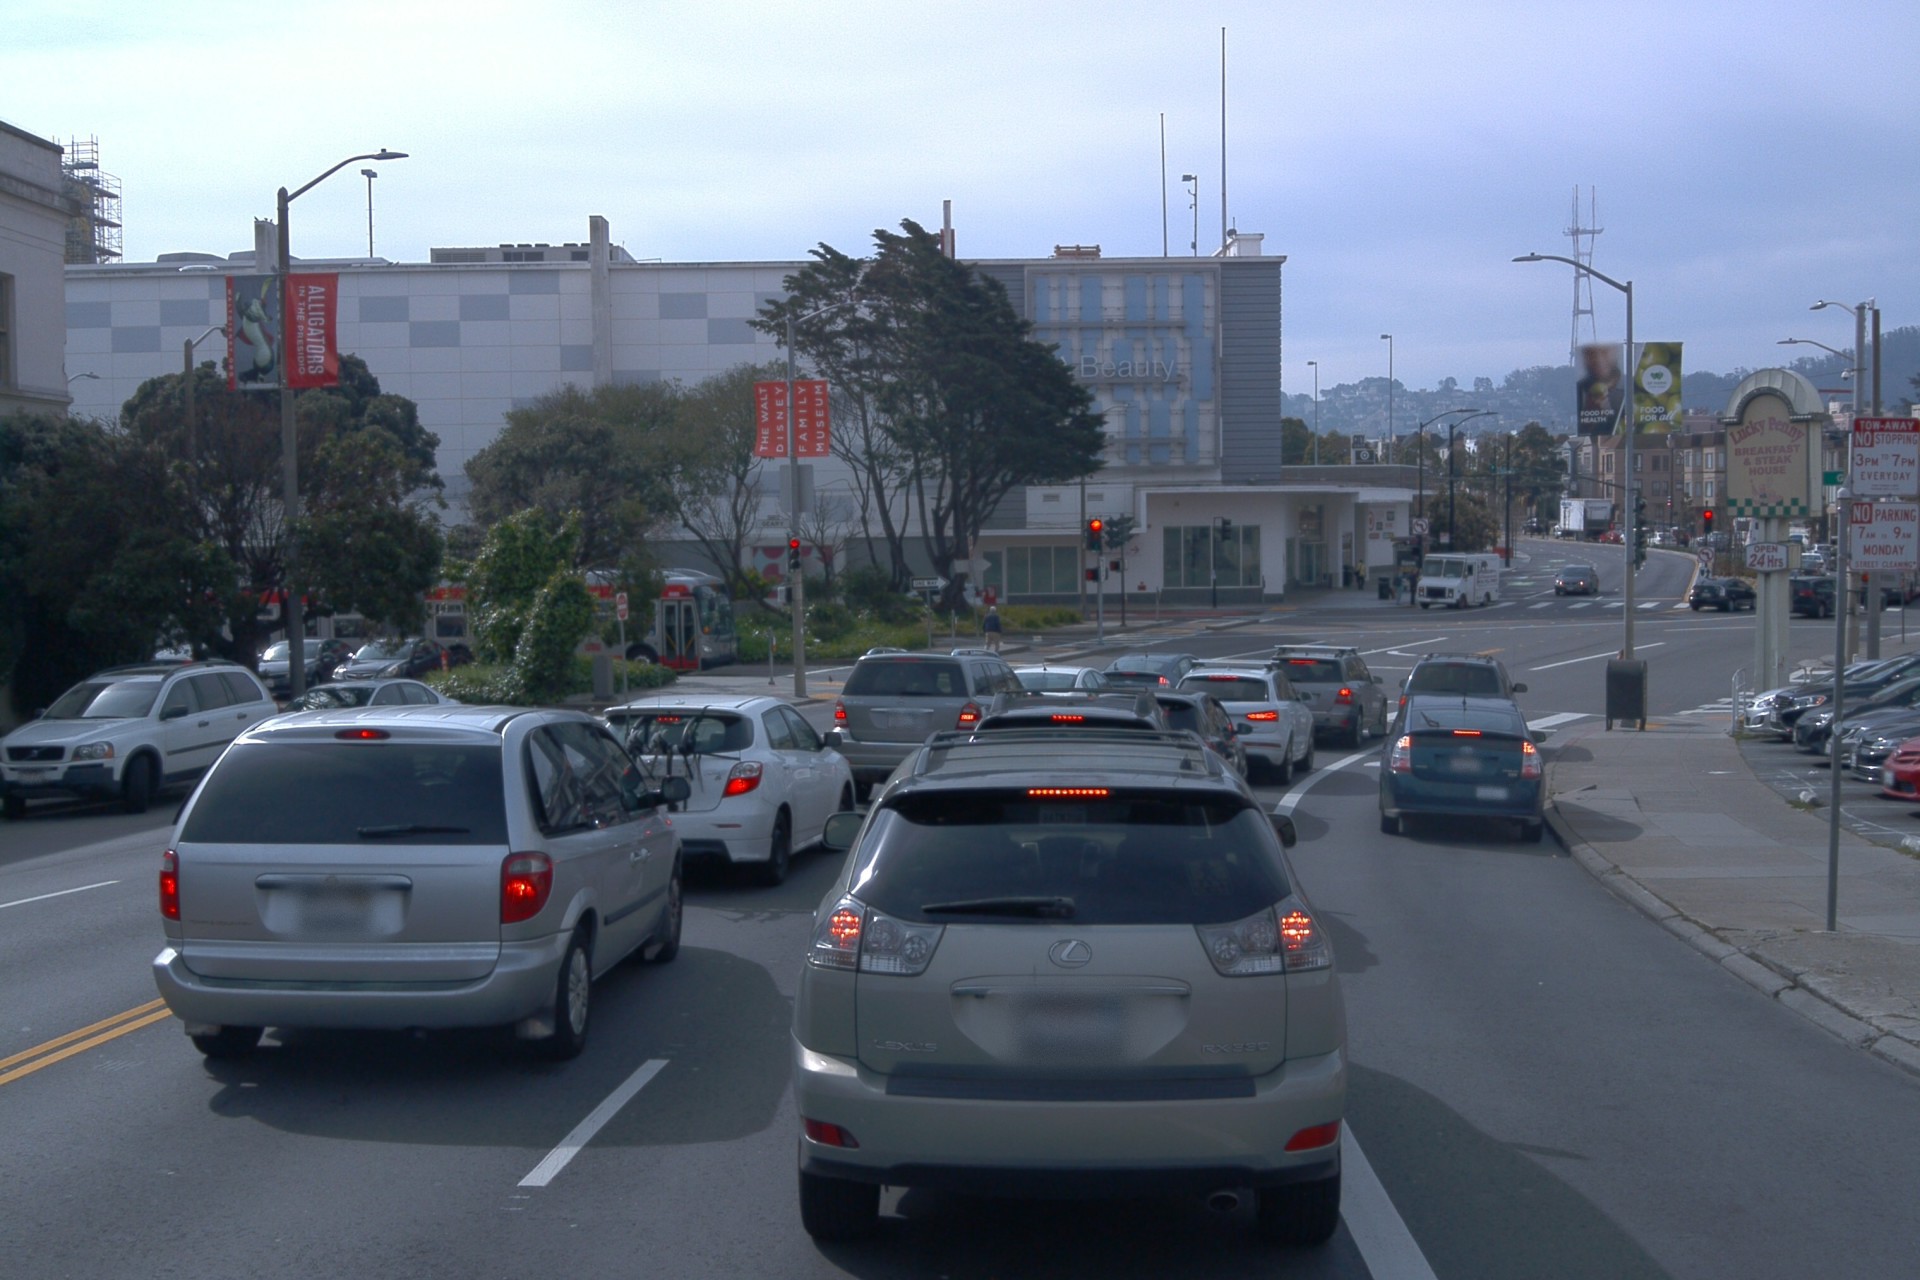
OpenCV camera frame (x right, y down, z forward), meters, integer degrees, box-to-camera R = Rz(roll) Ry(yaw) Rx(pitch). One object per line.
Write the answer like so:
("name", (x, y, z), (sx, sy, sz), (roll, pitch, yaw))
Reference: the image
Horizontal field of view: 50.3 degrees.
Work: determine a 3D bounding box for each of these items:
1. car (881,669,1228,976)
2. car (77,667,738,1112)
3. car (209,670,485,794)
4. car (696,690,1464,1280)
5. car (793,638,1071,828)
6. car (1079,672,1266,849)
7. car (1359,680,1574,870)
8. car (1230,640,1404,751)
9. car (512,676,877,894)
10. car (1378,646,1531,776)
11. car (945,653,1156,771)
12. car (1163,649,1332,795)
("car", (0.884, 1.202, 15.458), (2.119, 1.870, 4.391), (1, 0, 9))
("car", (-2.682, 1.114, 11.268), (2.131, 1.830, 4.635), (1, 0, 4))
("car", (-9.226, 1.331, 31.231), (1.977, 1.640, 4.663), (1, 0, 13))
("car", (0.408, 1.168, 8.138), (2.197, 1.780, 4.467), (1, 0, 2))
("car", (-0.208, 1.035, 25.534), (2.236, 2.100, 4.827), (1, 0, 15))
("car", (2.541, 1.308, 23.697), (1.526, 1.780, 3.939), (1, 0, 15))
("car", (5.630, 1.410, 23.174), (2.113, 1.790, 4.645), (1, 0, 12))
("car", (6.645, 0.938, 37.537), (2.226, 1.850, 5.307), (1, 0, 20))
("car", (-2.122, 1.131, 17.680), (1.982, 1.530, 4.306), (1, 0, 9))
("car", (8.560, 1.136, 35.071), (2.203, 2.020, 4.801), (1, 0, 18))
("car", (1.540, 1.076, 32.738), (2.220, 1.670, 4.643), (1, 0, 18))
("car", (4.180, 1.097, 29.247), (1.795, 1.880, 4.044), (1, 0, 17))
